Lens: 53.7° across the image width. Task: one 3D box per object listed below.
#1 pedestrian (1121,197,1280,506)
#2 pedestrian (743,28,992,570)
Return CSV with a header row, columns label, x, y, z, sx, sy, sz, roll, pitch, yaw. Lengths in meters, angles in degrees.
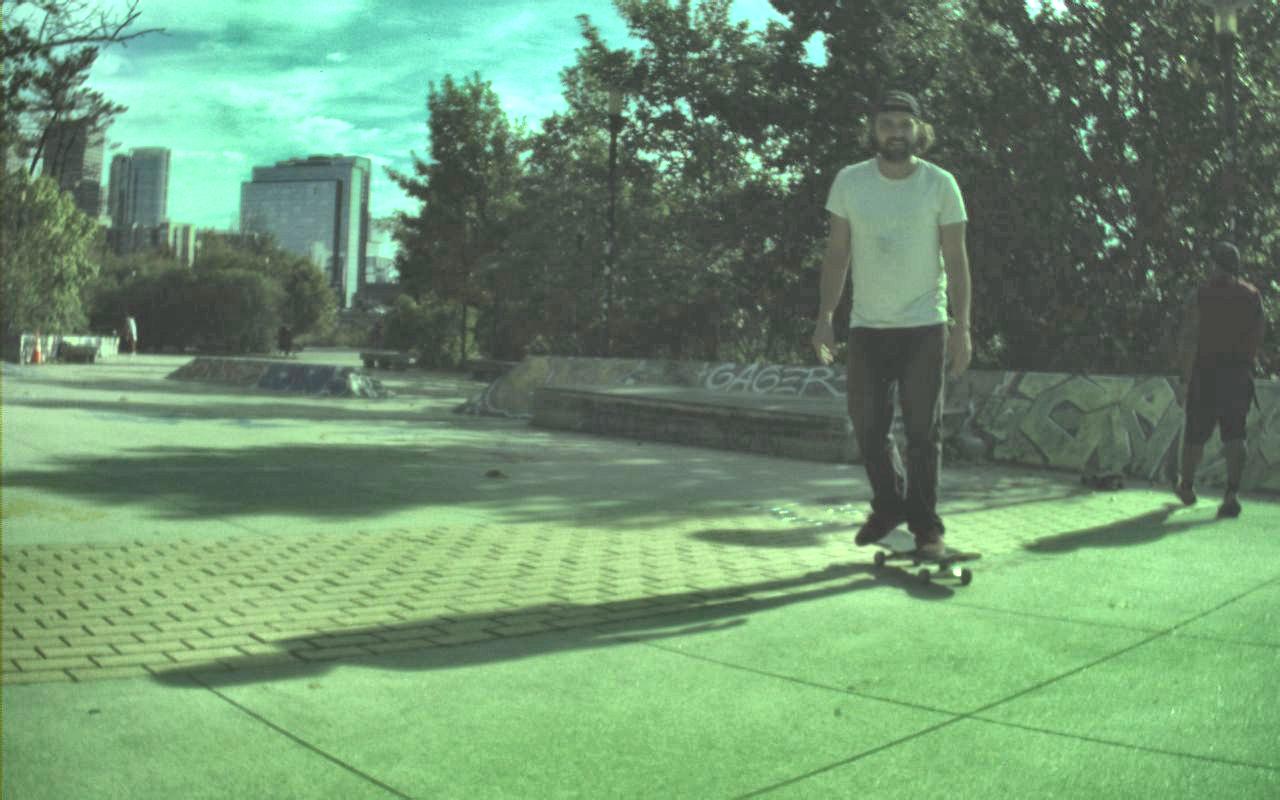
label,x,y,z,sx,sy,sz,roll,pitch,yaw
pedestrian,3.359,-0.267,6.942,0.787,1.742,0.825,0,0,5
pedestrian,0.844,-0.356,4.513,0.832,1.812,0.892,0,0,11
